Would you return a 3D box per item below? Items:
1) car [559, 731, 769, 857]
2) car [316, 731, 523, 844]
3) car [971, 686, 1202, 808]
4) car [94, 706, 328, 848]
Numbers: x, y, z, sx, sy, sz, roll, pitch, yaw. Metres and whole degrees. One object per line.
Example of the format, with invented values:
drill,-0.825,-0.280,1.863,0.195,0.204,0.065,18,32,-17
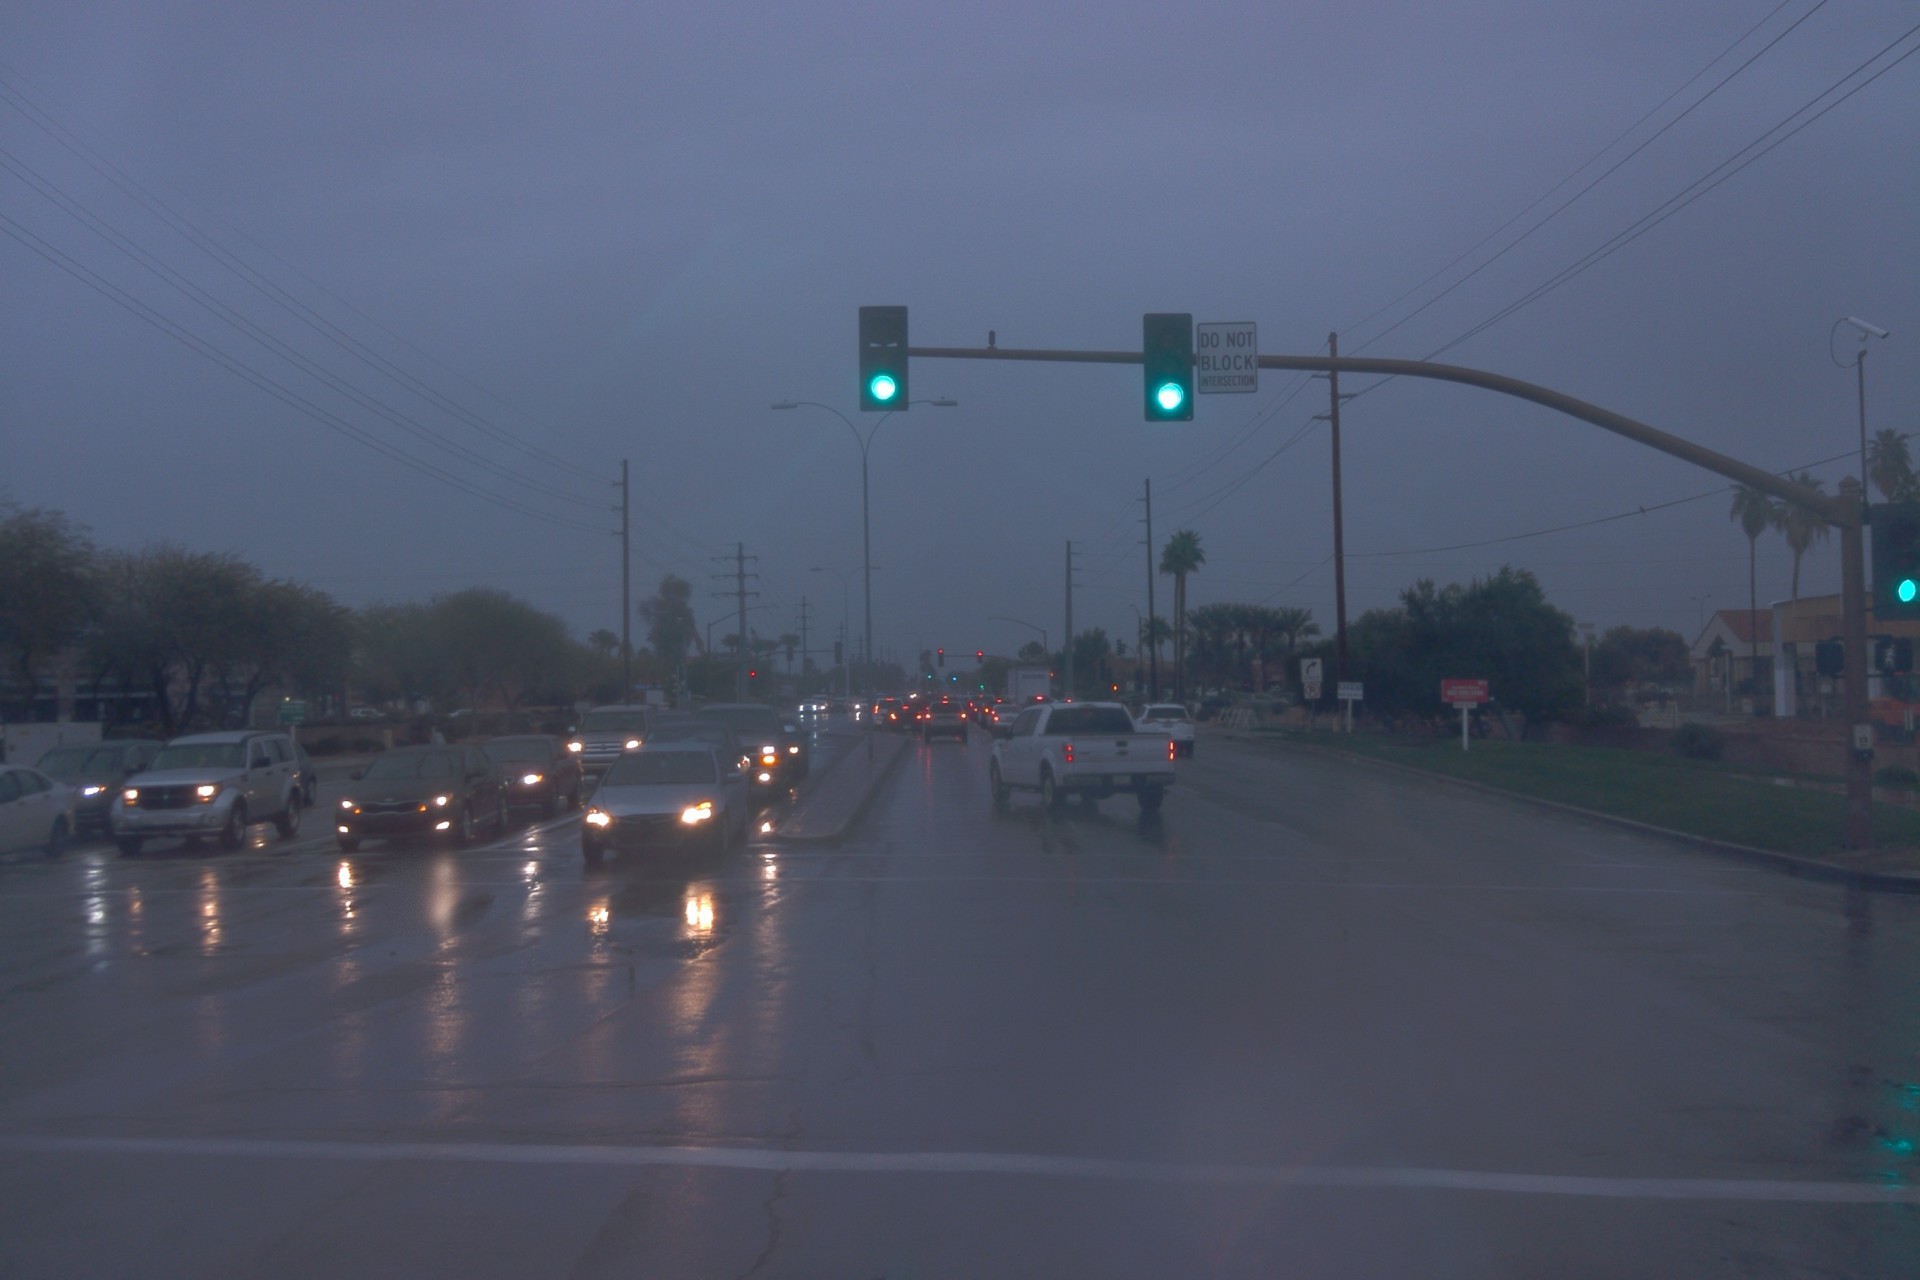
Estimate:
car,-3.802,1.976,27.511,2.102,1.410,4.605,0,-1,1
car,-8.045,2.161,31.360,2.042,1.440,4.763,0,-1,-2
car,2.119,1.827,37.182,2.514,1.980,5.885,0,-1,-13
car,-11.715,2.086,32.837,2.053,2.020,4.497,0,-1,0
